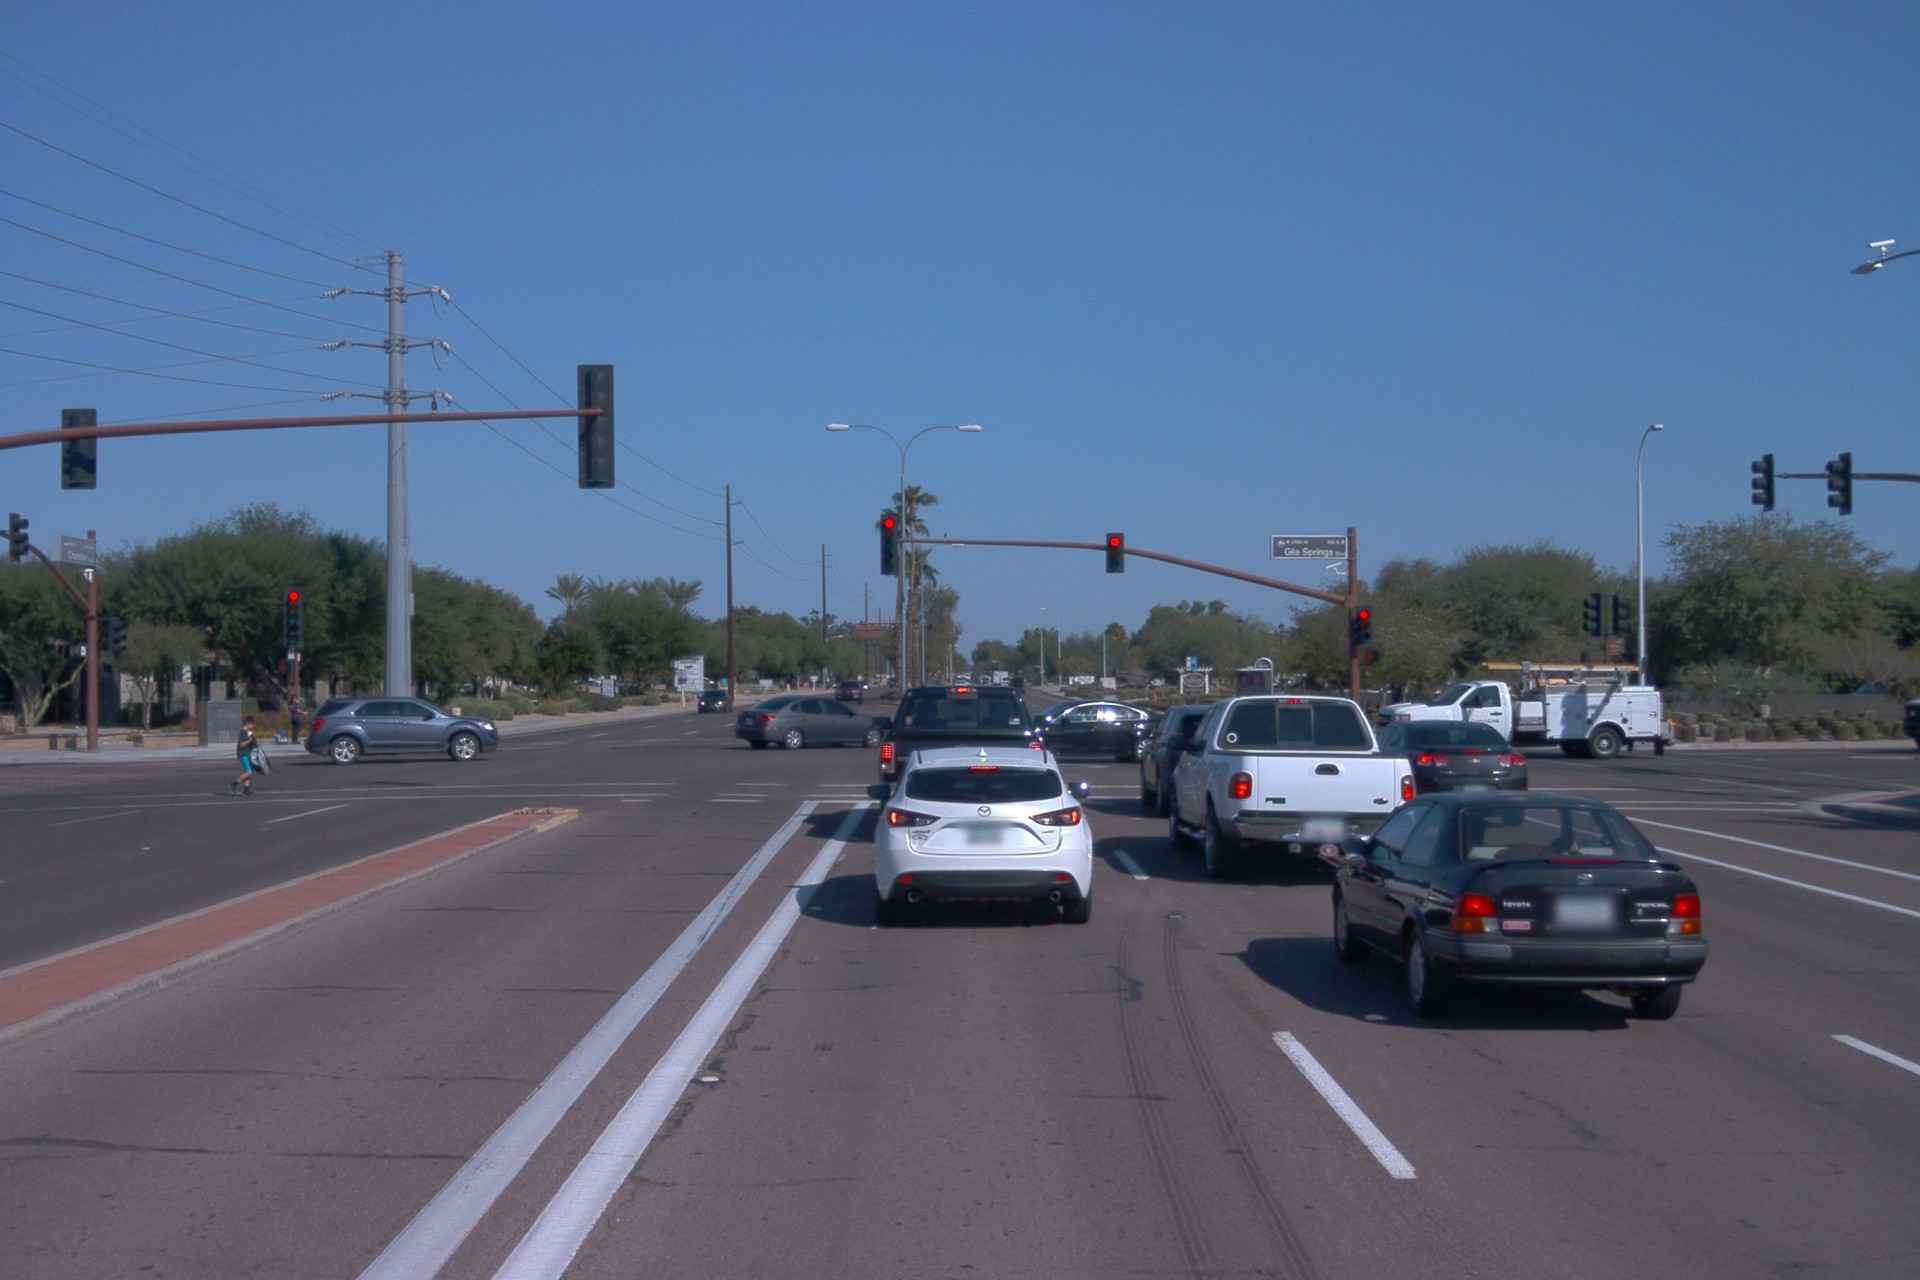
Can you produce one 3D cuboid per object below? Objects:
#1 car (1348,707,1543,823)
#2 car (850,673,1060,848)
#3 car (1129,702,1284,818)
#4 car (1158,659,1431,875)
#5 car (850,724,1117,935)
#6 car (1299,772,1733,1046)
[{"bbox_3d":[6.977,1.759,30.373,1.828,1.540,4.447,0,-1,0],"label":"car"},{"bbox_3d":[0.033,1.498,27.245,2.500,2.080,5.001,0,-1,2],"label":"car"},{"bbox_3d":[3.641,1.752,31.451,1.789,1.630,4.213,0,-1,-1],"label":"car"},{"bbox_3d":[3.460,1.287,22.670,2.073,2.070,5.518,0,-1,0],"label":"car"},{"bbox_3d":[0.209,1.587,18.736,2.099,1.600,4.628,0,-1,1],"label":"car"},{"bbox_3d":[3.487,1.655,13.869,1.735,1.400,4.161,0,-1,-1],"label":"car"}]
